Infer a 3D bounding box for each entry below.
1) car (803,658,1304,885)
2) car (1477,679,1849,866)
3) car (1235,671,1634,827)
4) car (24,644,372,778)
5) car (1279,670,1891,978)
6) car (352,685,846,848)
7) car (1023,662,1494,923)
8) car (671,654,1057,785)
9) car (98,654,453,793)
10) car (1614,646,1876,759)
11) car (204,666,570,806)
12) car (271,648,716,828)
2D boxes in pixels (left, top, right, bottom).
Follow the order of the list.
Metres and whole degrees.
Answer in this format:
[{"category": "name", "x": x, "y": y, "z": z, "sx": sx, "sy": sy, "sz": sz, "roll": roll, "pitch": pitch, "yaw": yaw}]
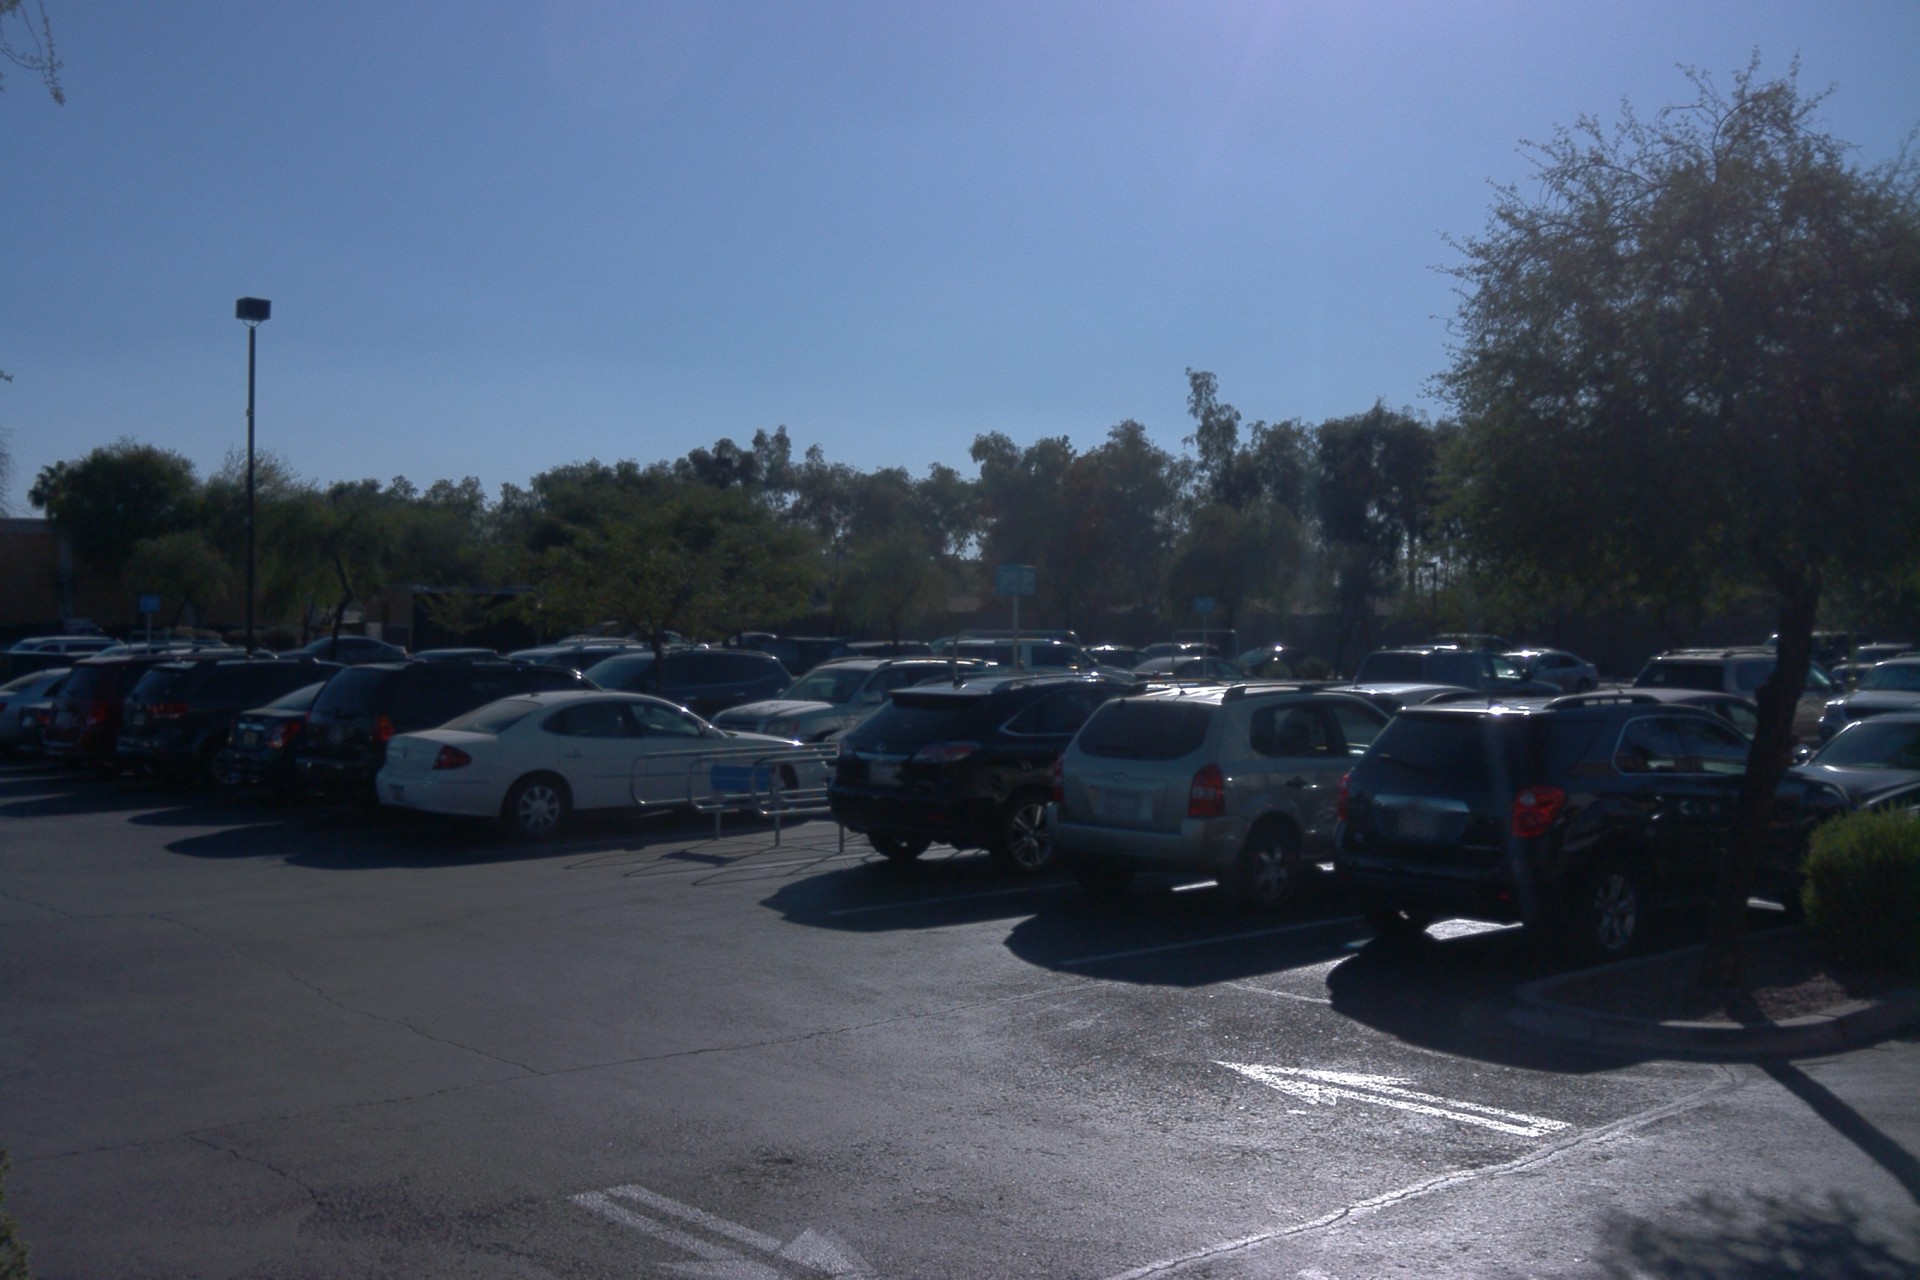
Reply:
[{"category": "car", "x": 0.953, "y": 1.105, "z": 19.088, "sx": 4.517, "sy": 1.850, "sz": 1.910, "roll": 1, "pitch": -1, "yaw": -40}, {"category": "car", "x": 7.260, "y": 1.265, "z": 21.169, "sx": 4.012, "sy": 1.690, "sz": 1.903, "roll": 1, "pitch": -1, "yaw": -43}, {"category": "car", "x": 5.358, "y": 1.126, "z": 22.987, "sx": 4.641, "sy": 1.540, "sz": 1.969, "roll": 1, "pitch": -1, "yaw": -41}, {"category": "car", "x": -10.990, "y": 0.981, "z": 29.976, "sx": 4.296, "sy": 1.810, "sz": 1.956, "roll": 1, "pitch": -1, "yaw": -43}, {"category": "car", "x": 4.560, "y": 1.140, "z": 14.693, "sx": 4.663, "sy": 1.830, "sz": 1.995, "roll": 1, "pitch": -1, "yaw": -41}, {"category": "car", "x": -3.749, "y": 1.255, "z": 22.074, "sx": 4.892, "sy": 1.510, "sz": 1.978, "roll": 1, "pitch": -1, "yaw": -42}, {"category": "car", "x": 2.516, "y": 1.121, "z": 16.838, "sx": 1.863, "sy": 1.860, "sz": 3.881, "roll": 0, "pitch": -1, "yaw": 44}, {"category": "car", "x": -1.208, "y": 1.012, "z": 28.141, "sx": 2.222, "sy": 1.620, "sz": 5.086, "roll": 0, "pitch": -1, "yaw": 45}, {"category": "car", "x": -9.107, "y": 1.061, "z": 27.701, "sx": 4.134, "sy": 1.720, "sz": 1.806, "roll": 1, "pitch": -1, "yaw": -43}, {"category": "car", "x": 12.669, "y": 0.963, "z": 33.237, "sx": 4.588, "sy": 1.690, "sz": 1.921, "roll": 1, "pitch": -1, "yaw": -39}, {"category": "car", "x": -7.143, "y": 1.138, "z": 25.996, "sx": 4.039, "sy": 1.610, "sz": 1.815, "roll": 1, "pitch": -1, "yaw": -43}, {"category": "car", "x": -5.363, "y": 1.058, "z": 24.132, "sx": 4.580, "sy": 1.890, "sz": 2.196, "roll": 1, "pitch": -1, "yaw": -43}]
